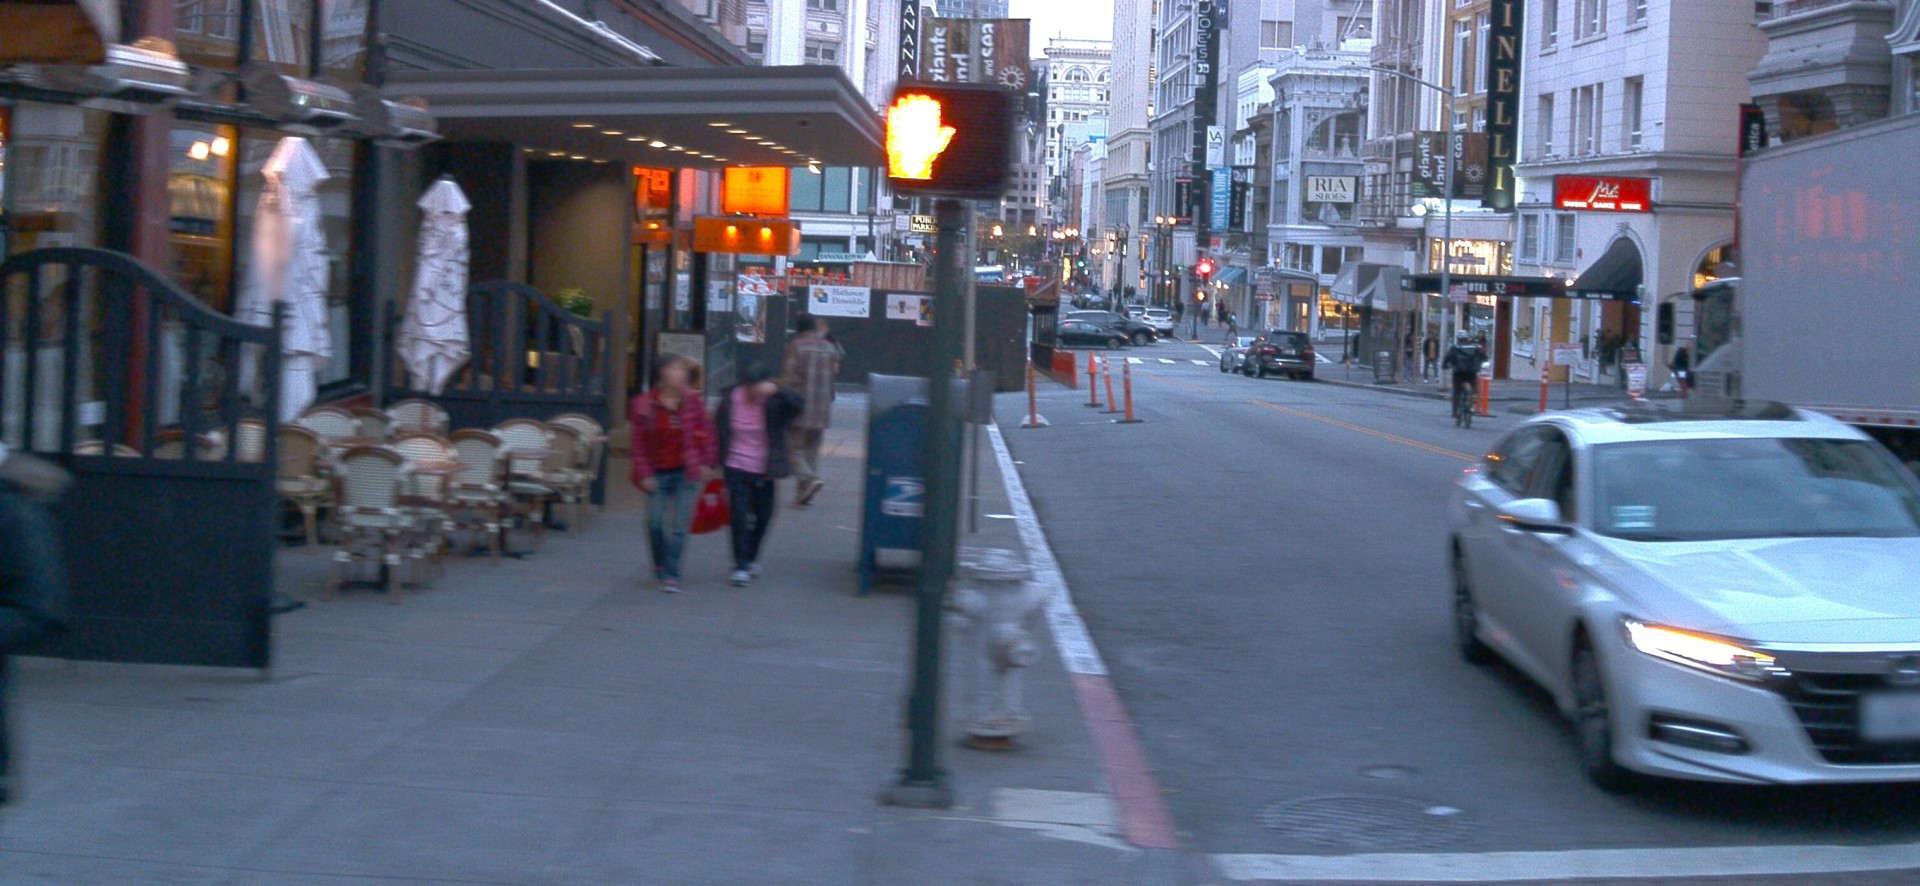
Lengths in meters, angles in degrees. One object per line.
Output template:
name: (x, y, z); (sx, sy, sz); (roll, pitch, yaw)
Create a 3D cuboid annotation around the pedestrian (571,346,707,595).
pedestrian: (-1.991, 0.142, 12.847); (0.807, 1.440, 0.919); (0, 2, -7)

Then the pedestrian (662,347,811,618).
pedestrian: (-1.474, 0.218, 13.401); (0.906, 1.630, 1.039); (0, 2, -10)

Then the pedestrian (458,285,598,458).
pedestrian: (-5.077, -0.873, 24.175); (1.269, 1.949, 0.981); (1, 2, 28)

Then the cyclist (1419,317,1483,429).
cyclist: (8.366, -1.220, 35.075); (0.834, 1.777, 1.890); (0, 3, 6)

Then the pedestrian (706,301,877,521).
pedestrian: (-1.567, -0.338, 18.984); (1.196, 1.905, 1.107); (-1, 2, -33)
